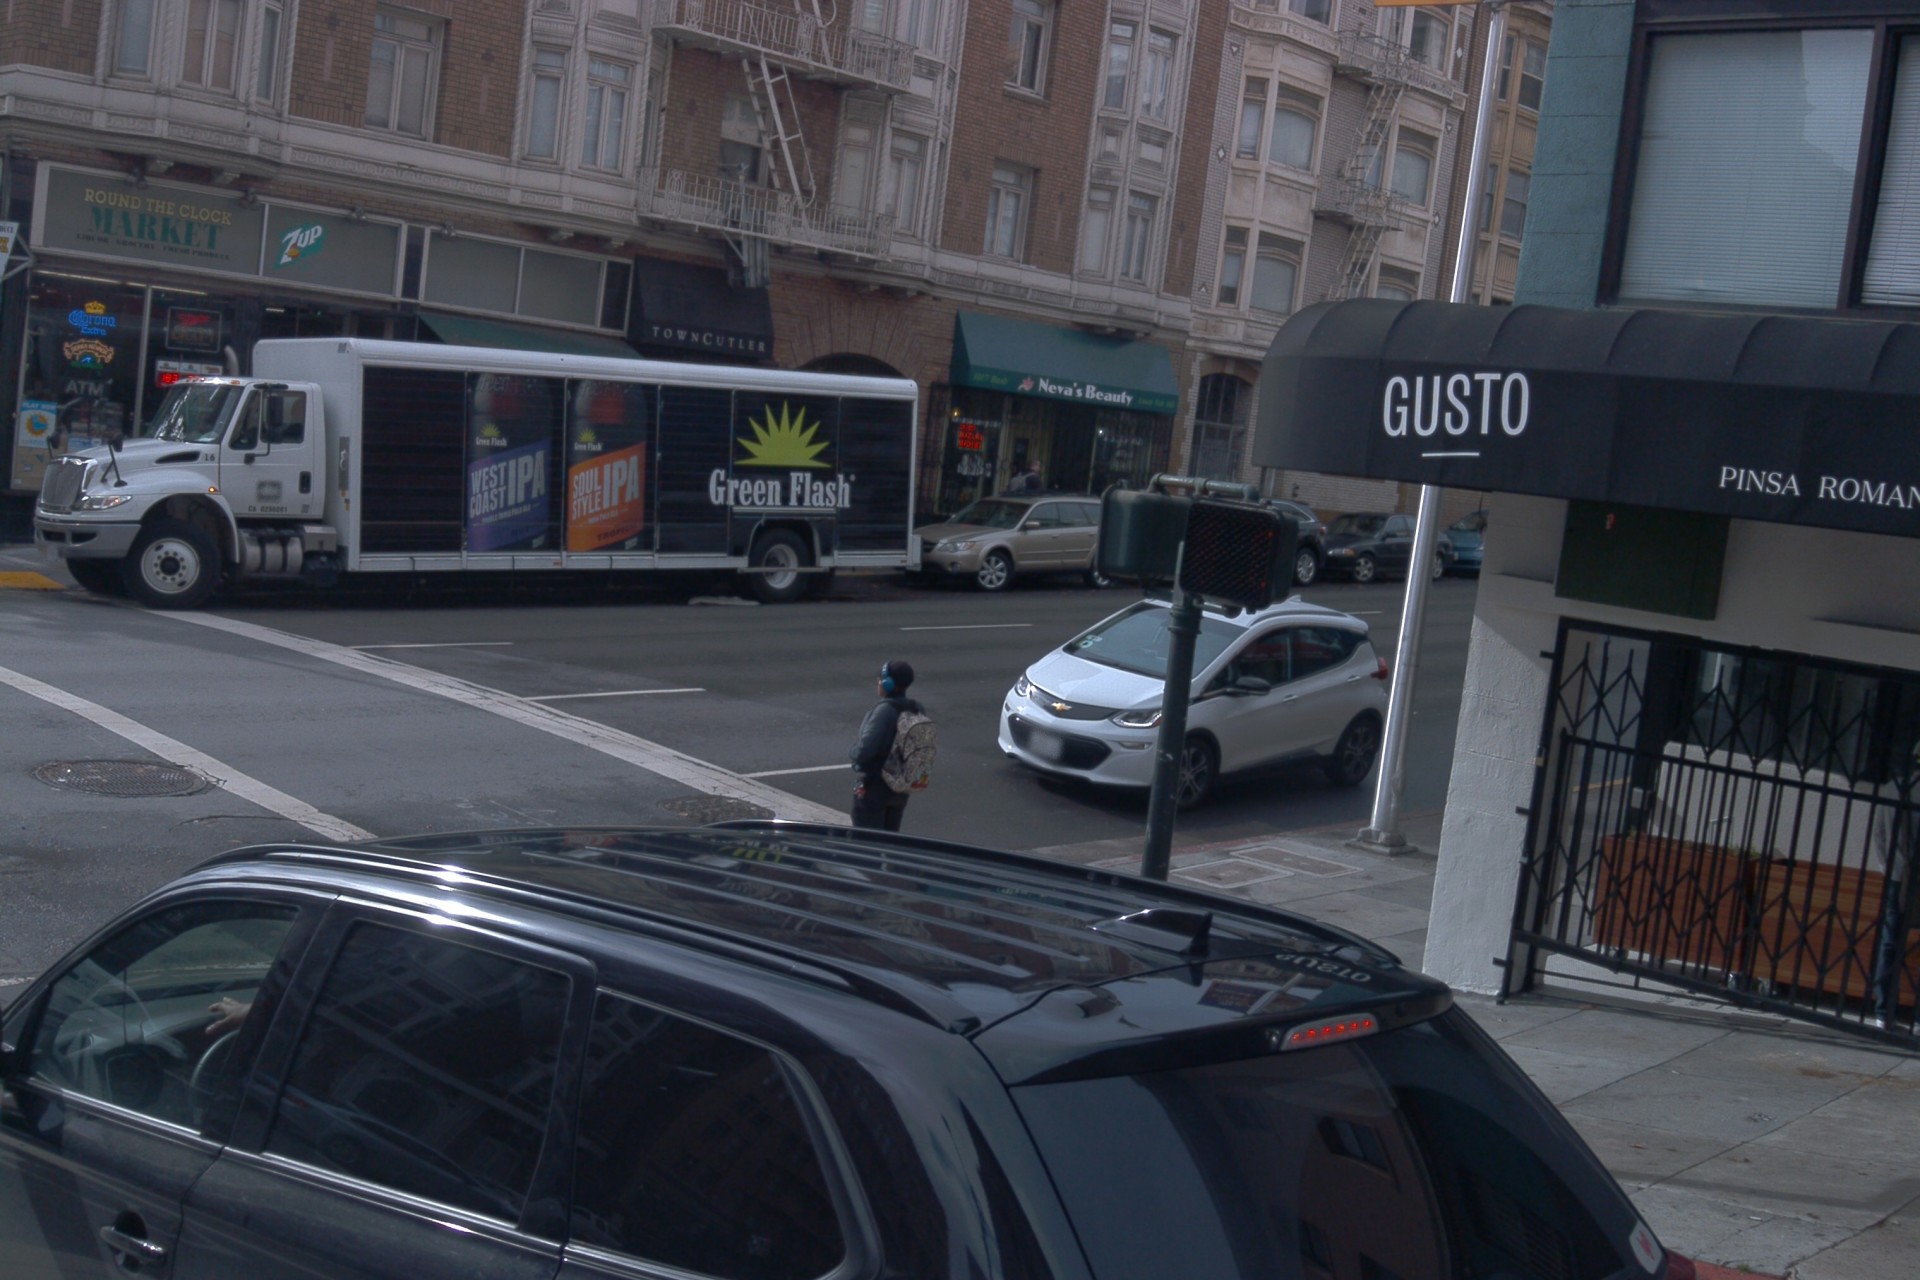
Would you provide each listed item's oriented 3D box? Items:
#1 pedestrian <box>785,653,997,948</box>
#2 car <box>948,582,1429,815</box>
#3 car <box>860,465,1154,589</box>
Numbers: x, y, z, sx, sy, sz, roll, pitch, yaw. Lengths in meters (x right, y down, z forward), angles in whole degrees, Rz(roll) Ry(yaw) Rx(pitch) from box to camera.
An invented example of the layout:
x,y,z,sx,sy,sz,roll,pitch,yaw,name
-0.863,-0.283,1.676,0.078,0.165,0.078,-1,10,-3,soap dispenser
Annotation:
x,y,z,sx,sy,sz,roll,pitch,yaw,name
-0.399,0.884,11.860,0.929,1.590,0.750,2,1,43,pedestrian
2.108,0.433,18.048,2.062,1.780,4.279,2,1,42,car
0.848,-1.780,33.799,2.182,1.770,4.833,2,1,42,car
